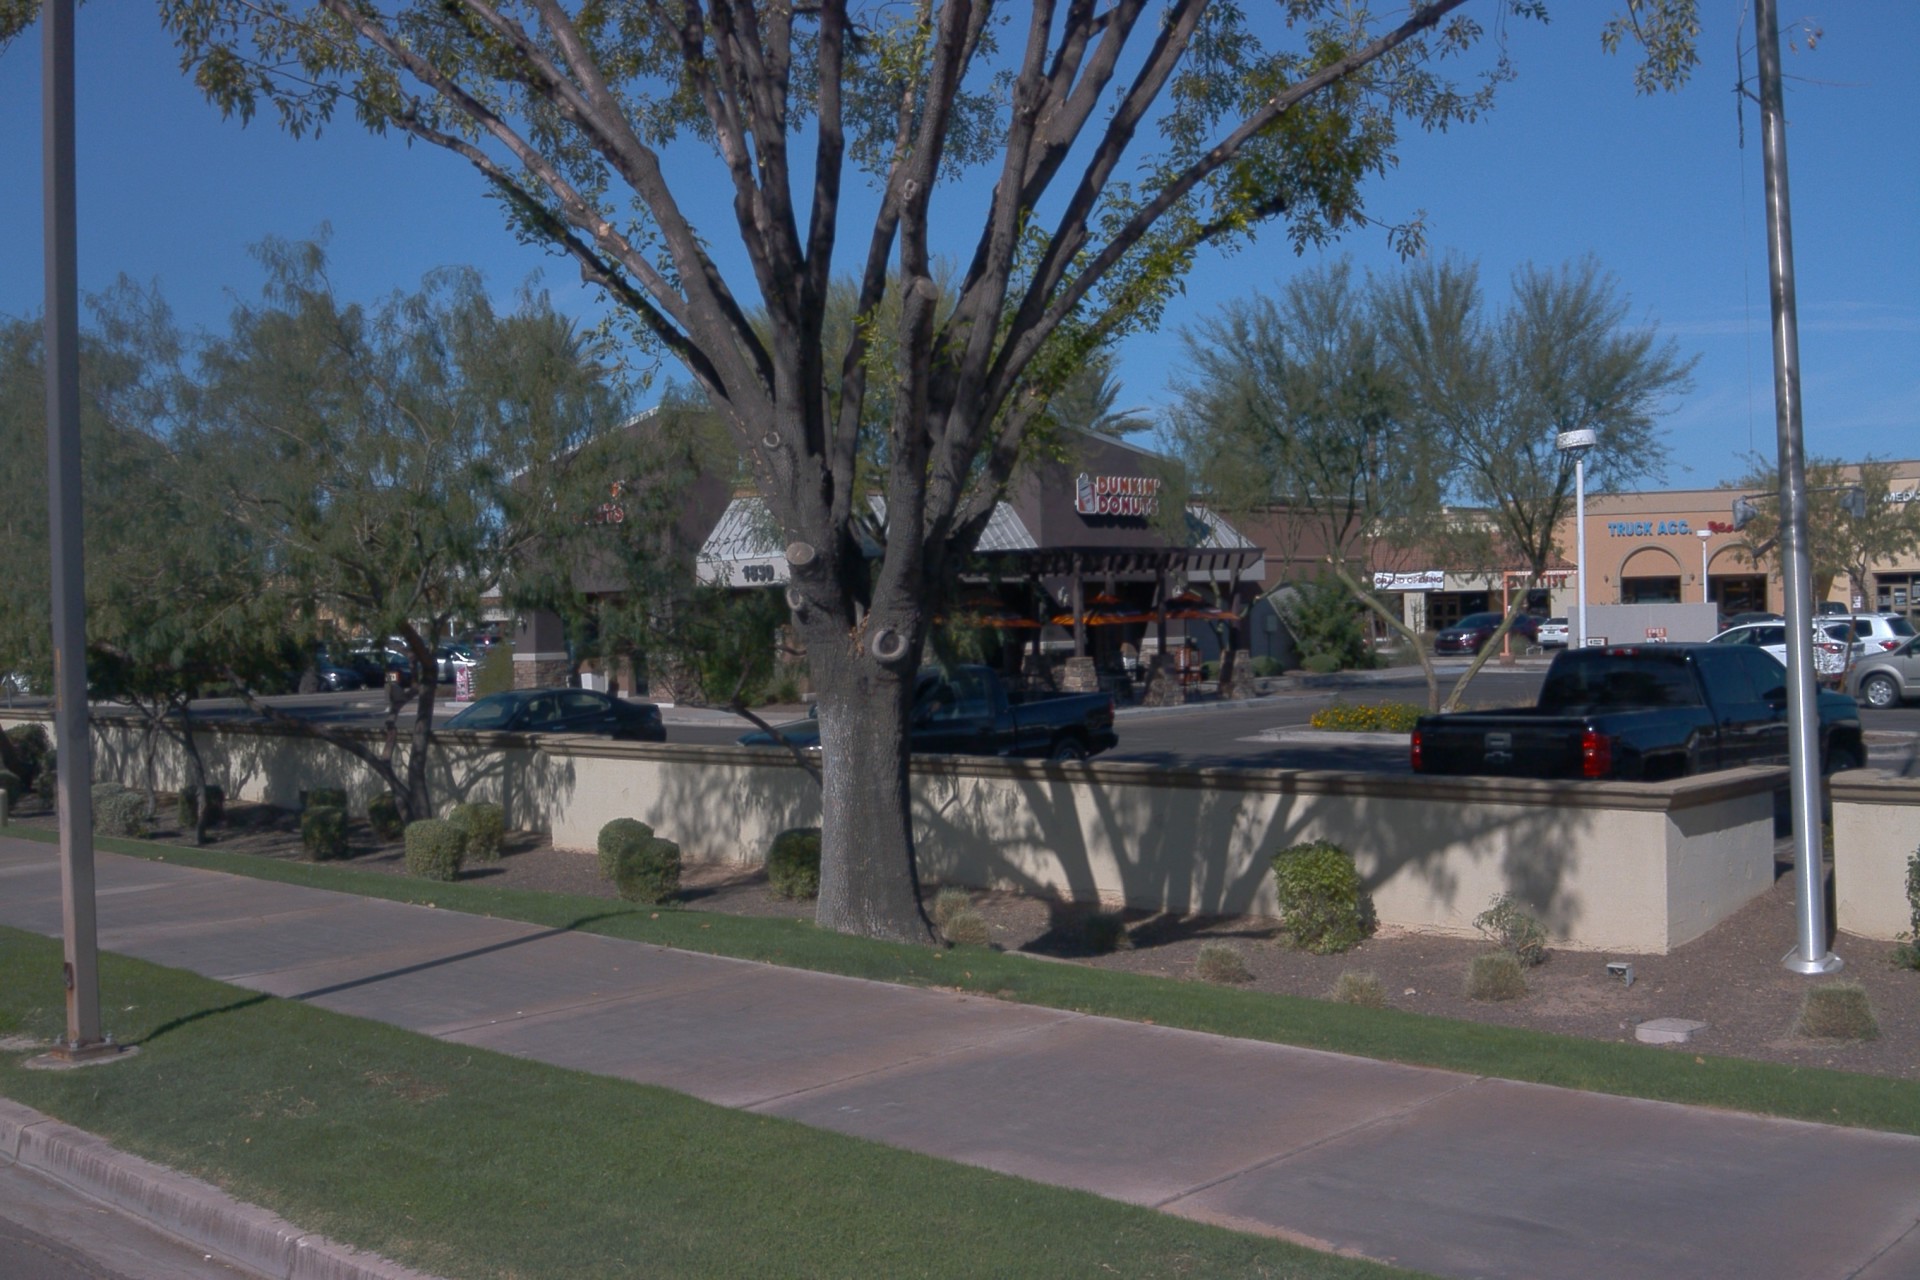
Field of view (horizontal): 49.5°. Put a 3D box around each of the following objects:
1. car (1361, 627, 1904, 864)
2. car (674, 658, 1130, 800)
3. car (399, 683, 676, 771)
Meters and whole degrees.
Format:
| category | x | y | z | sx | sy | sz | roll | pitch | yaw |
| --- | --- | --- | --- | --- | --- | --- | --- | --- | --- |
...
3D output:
| category | x | y | z | sx | sy | sz | roll | pitch | yaw |
| --- | --- | --- | --- | --- | --- | --- | --- | --- | --- |
| car | 6.466 | 0.896 | 19.531 | 2.506 | 1.890 | 5.775 | 0 | -1 | 45 |
| car | -0.642 | 1.105 | 27.471 | 5.827 | 1.670 | 2.538 | 1 | -1 | -44 |
| car | -6.865 | 1.381 | 34.064 | 2.087 | 1.330 | 3.995 | 0 | -1 | 42 |
